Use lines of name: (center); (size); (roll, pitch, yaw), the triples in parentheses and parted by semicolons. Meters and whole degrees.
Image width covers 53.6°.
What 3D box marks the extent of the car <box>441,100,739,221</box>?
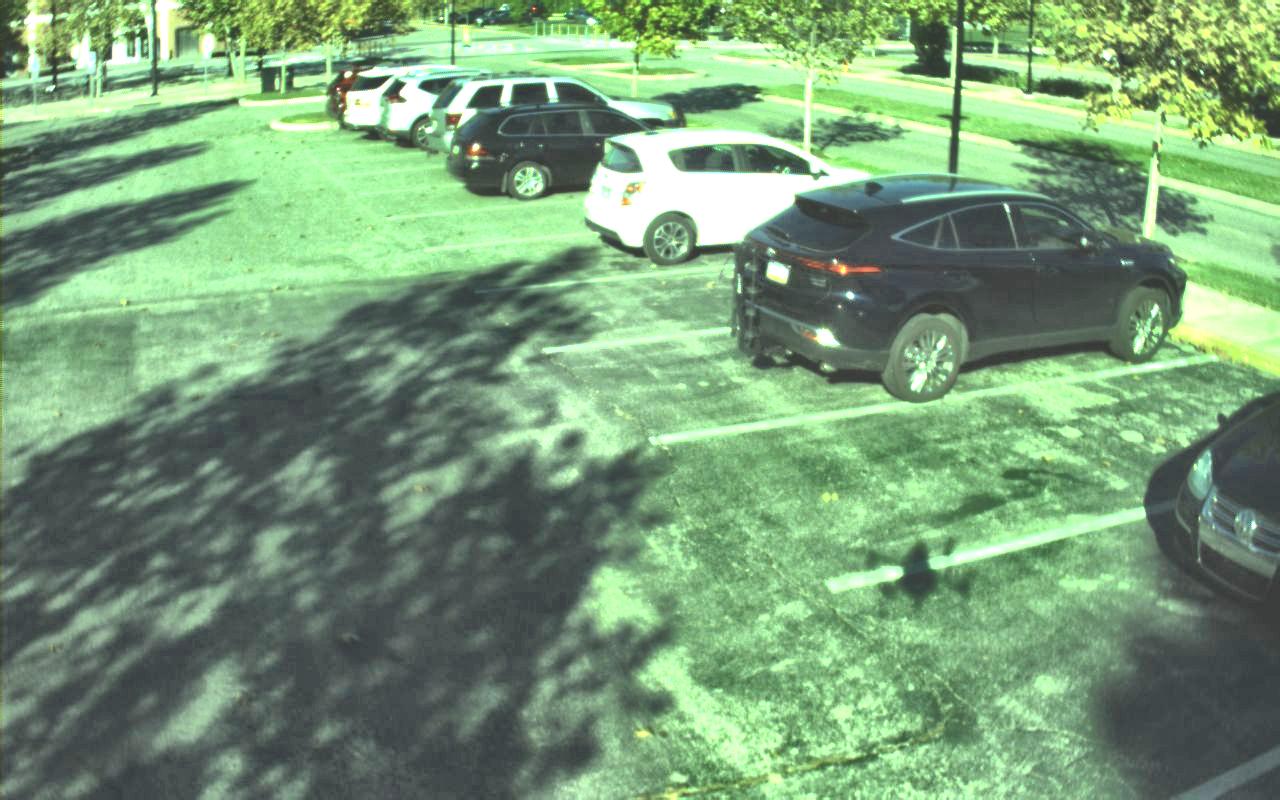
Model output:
car: (-0.842, -4.007, 20.483); (4.526, 1.557, 1.940); (-7, 17, -20)

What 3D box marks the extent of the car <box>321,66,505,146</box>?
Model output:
car: (-6.003, -7.746, 32.079); (4.530, 1.741, 1.998); (-8, 18, -23)

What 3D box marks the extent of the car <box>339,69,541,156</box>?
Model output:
car: (-4.851, -6.941, 29.522); (4.544, 1.711, 1.987); (-8, 18, -22)

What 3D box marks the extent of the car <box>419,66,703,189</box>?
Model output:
car: (-1.492, -5.082, 22.813); (4.836, 1.881, 2.071); (-7, 17, -19)

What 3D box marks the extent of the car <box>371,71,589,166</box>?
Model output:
car: (-3.581, -6.283, 27.331); (4.483, 1.736, 1.967); (-8, 17, -21)

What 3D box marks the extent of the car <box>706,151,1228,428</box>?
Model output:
car: (3.081, -1.196, 10.895); (4.629, 1.720, 1.986); (-9, 18, -24)

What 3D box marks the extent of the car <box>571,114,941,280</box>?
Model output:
car: (1.509, -2.705, 15.938); (4.354, 1.660, 1.929); (-8, 17, -21)
